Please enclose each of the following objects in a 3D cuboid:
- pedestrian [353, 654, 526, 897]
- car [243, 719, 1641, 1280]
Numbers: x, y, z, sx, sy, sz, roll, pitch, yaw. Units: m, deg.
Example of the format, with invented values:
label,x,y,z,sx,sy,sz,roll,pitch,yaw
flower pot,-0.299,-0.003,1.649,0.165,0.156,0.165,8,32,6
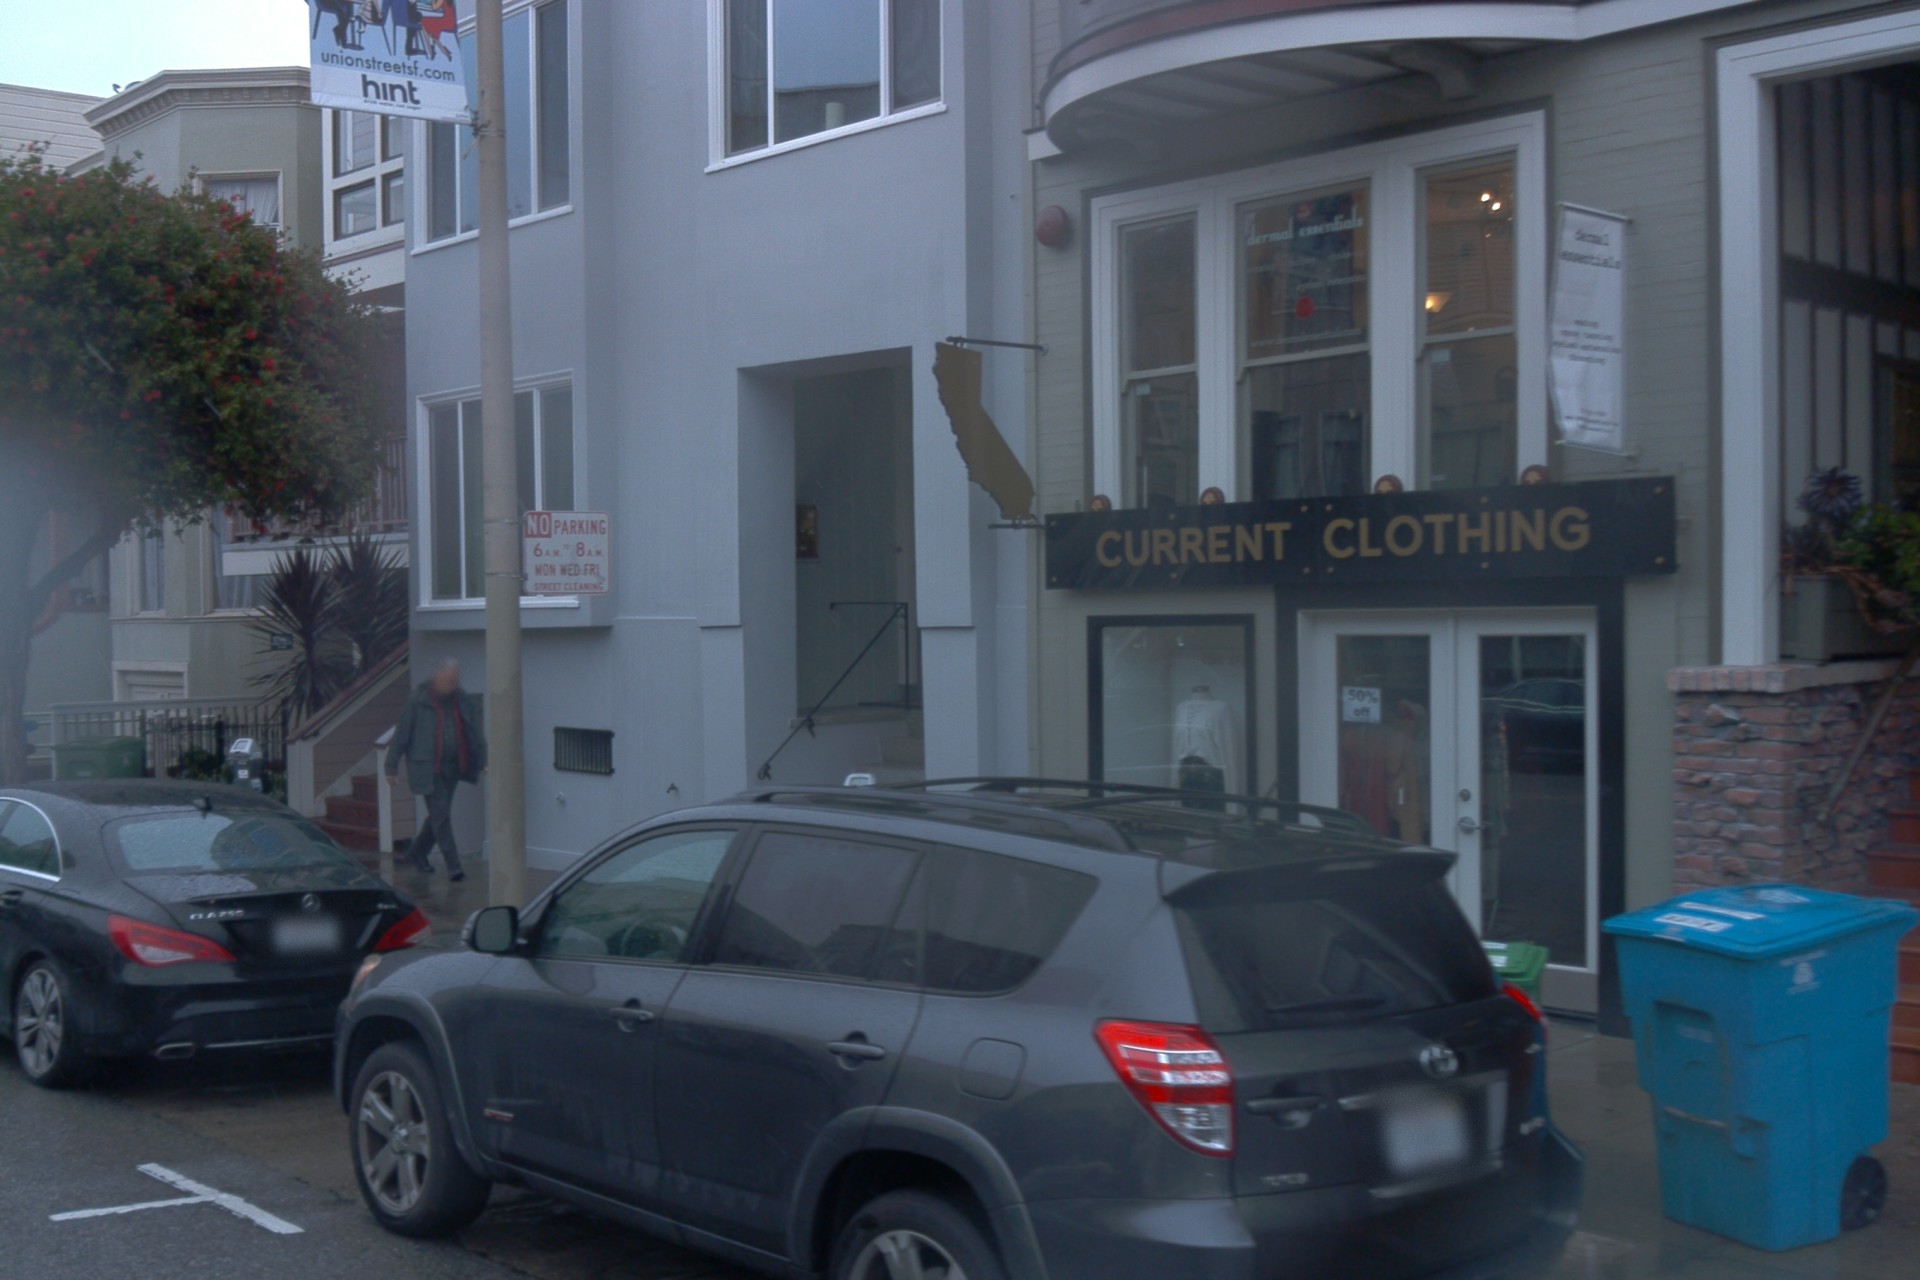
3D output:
label,x,y,z,sx,sy,sz,roll,pitch,yaw
pedestrian,-4.171,1.045,16.467,0.913,1.850,1.076,0,1,-44
car,-0.373,1.260,6.791,2.109,1.790,4.494,0,0,-43
